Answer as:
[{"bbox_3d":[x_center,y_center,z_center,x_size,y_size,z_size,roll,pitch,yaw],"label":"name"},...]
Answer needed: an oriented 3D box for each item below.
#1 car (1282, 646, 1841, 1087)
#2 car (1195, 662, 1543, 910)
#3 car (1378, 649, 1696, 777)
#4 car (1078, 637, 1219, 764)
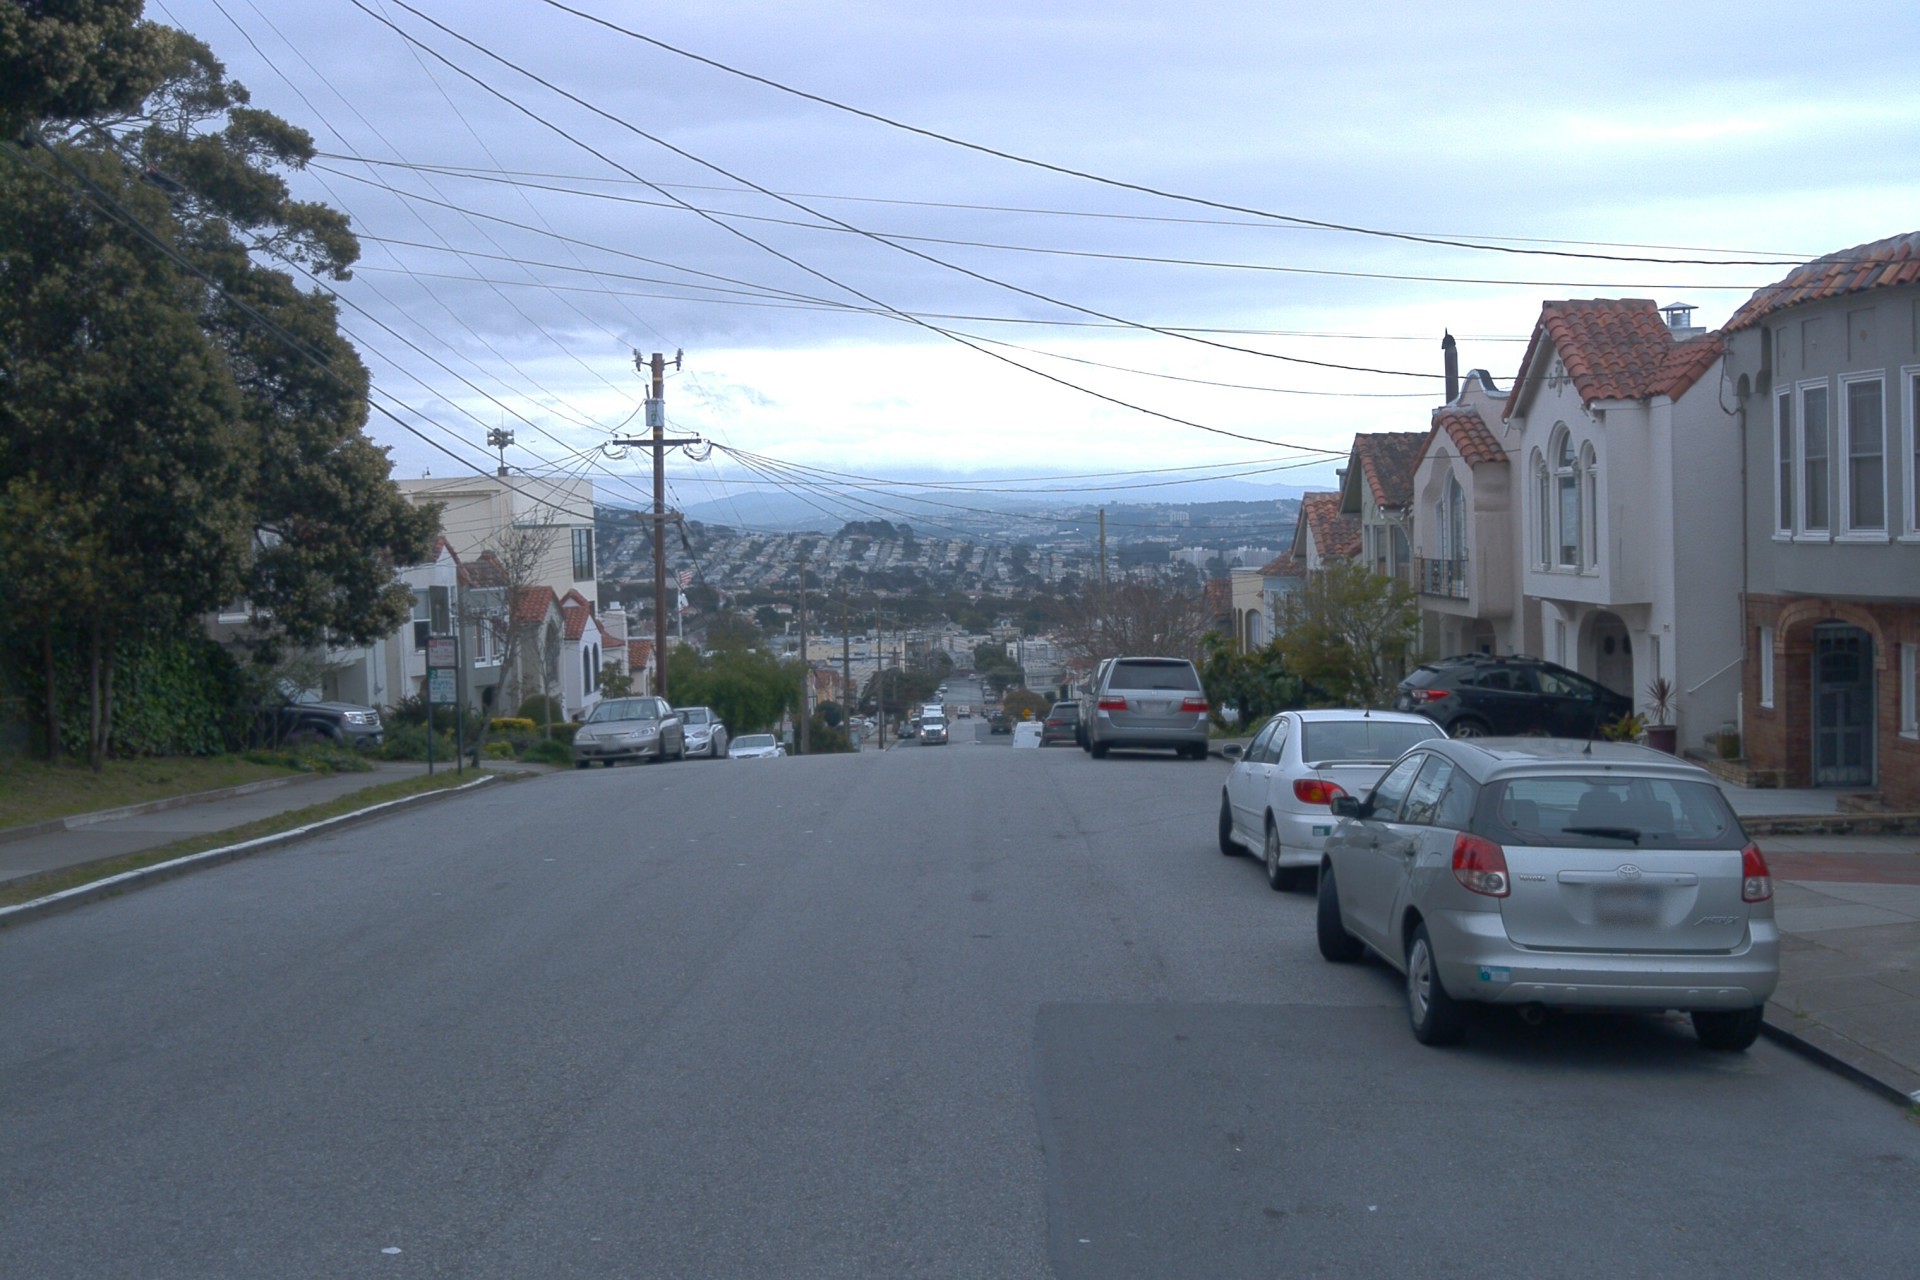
[{"bbox_3d":[3.201,1.085,11.944,1.982,2.084,4.249,0,0,0],"label":"car"},{"bbox_3d":[3.412,1.147,18.168,2.089,1.860,4.614,0,0,-1],"label":"car"},{"bbox_3d":[8.644,1.065,31.114,4.223,1.851,1.973,0,0,-3],"label":"car"},{"bbox_3d":[3.206,0.983,36.044,2.082,2.060,5.186,0,0,1],"label":"car"}]
